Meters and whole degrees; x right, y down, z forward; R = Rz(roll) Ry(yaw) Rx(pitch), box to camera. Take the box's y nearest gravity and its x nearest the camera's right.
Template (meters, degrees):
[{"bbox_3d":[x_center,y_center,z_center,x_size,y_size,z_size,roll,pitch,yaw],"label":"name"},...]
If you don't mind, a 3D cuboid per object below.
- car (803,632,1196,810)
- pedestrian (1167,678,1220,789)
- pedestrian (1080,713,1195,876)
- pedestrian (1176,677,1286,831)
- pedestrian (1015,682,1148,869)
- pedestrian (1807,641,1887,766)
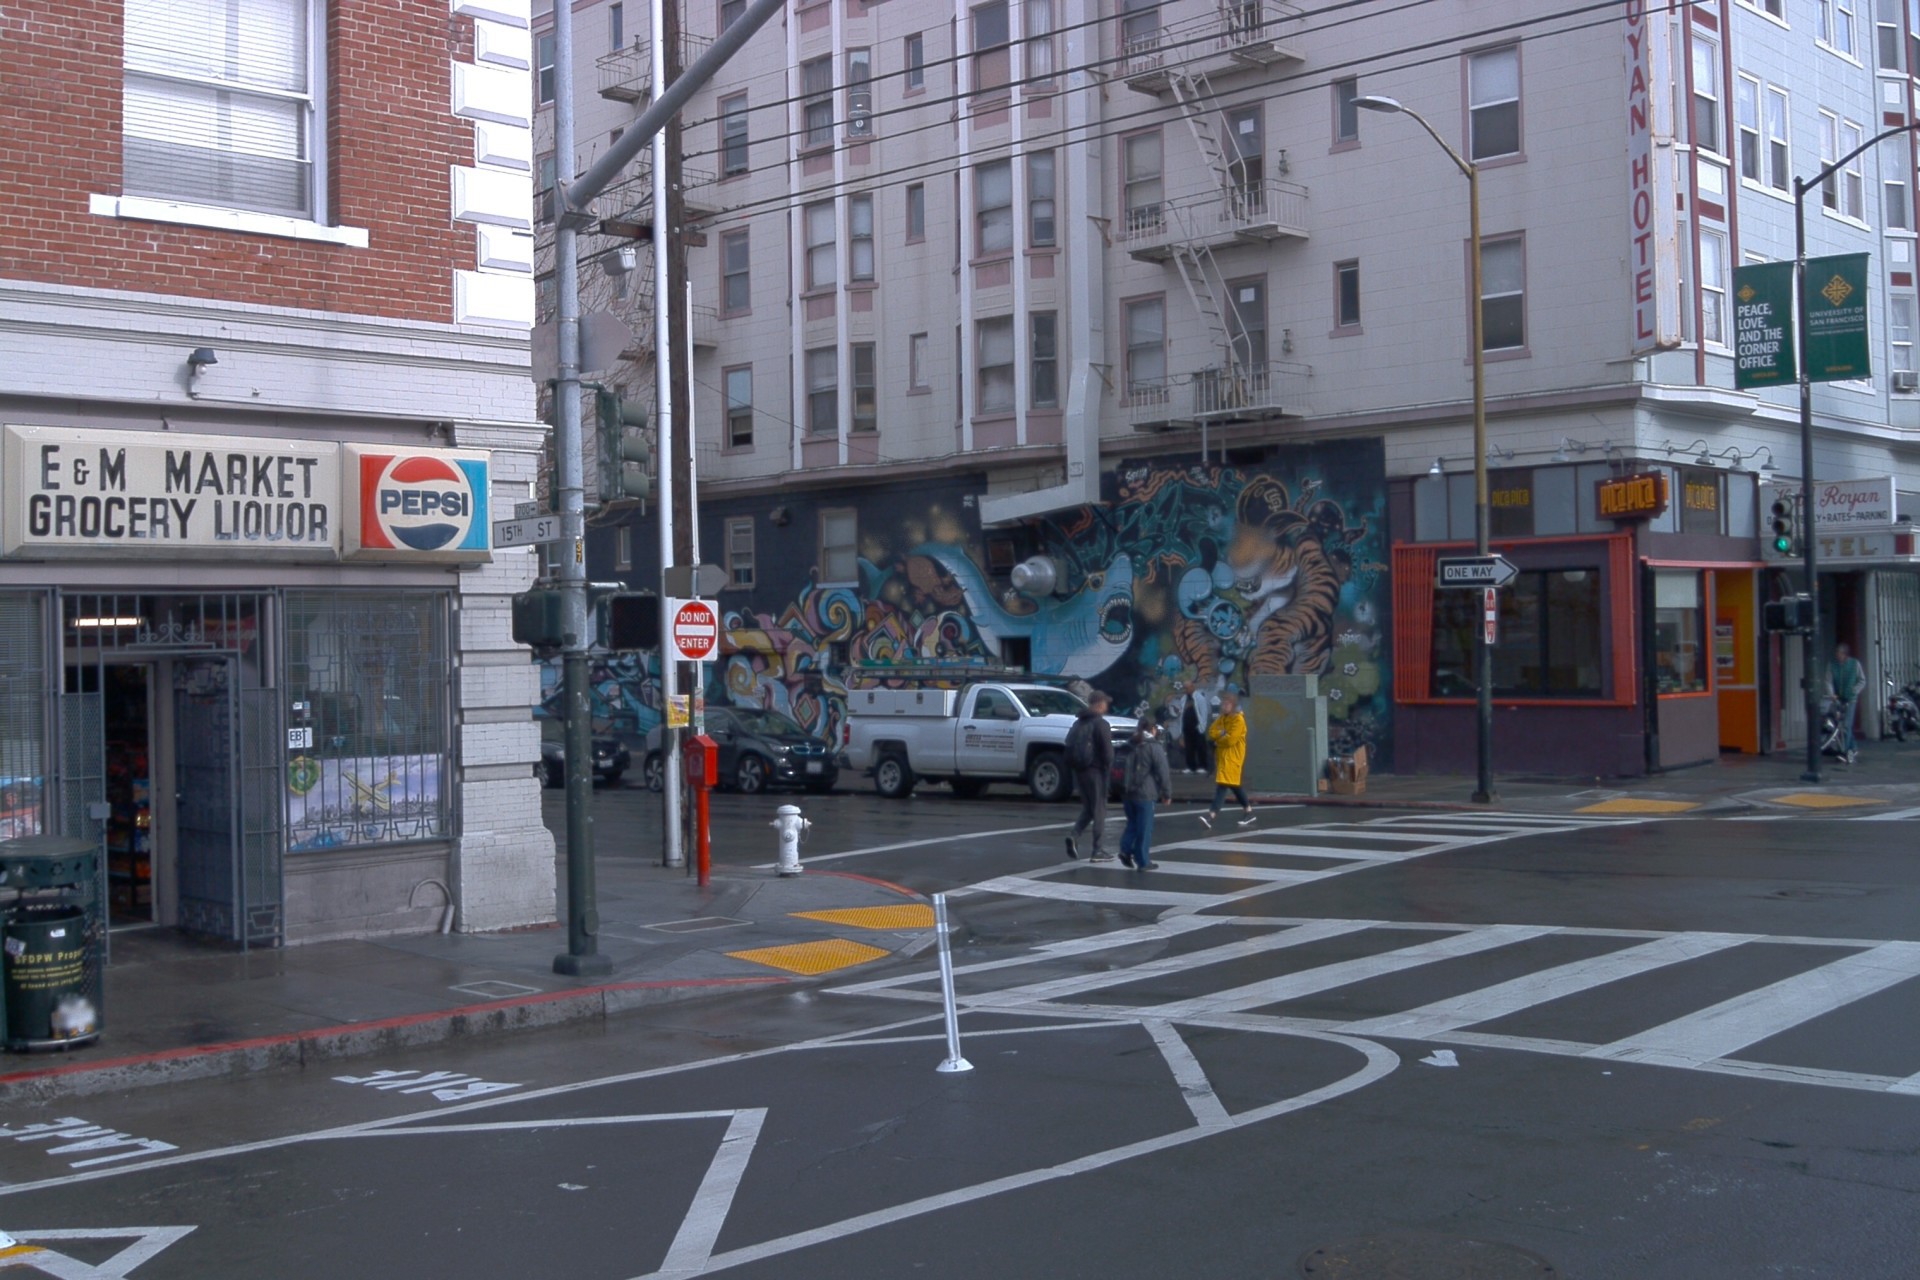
[{"bbox_3d":[0.489,1.141,32.263,6.249,2.440,2.327,1,1,44],"label":"car"},{"bbox_3d":[4.103,1.630,36.074,0.676,1.880,0.623,1,2,45],"label":"pedestrian"},{"bbox_3d":[1.777,1.524,20.591,0.830,1.530,0.803,-1,2,-45],"label":"pedestrian"},{"bbox_3d":[3.227,1.333,24.485,1.041,1.750,0.760,-1,1,-33],"label":"pedestrian"},{"bbox_3d":[1.258,1.375,21.337,1.077,1.830,0.861,-1,1,-40],"label":"pedestrian"},{"bbox_3d":[13.949,0.975,32.330,0.871,1.910,0.946,1,1,43],"label":"pedestrian"}]
